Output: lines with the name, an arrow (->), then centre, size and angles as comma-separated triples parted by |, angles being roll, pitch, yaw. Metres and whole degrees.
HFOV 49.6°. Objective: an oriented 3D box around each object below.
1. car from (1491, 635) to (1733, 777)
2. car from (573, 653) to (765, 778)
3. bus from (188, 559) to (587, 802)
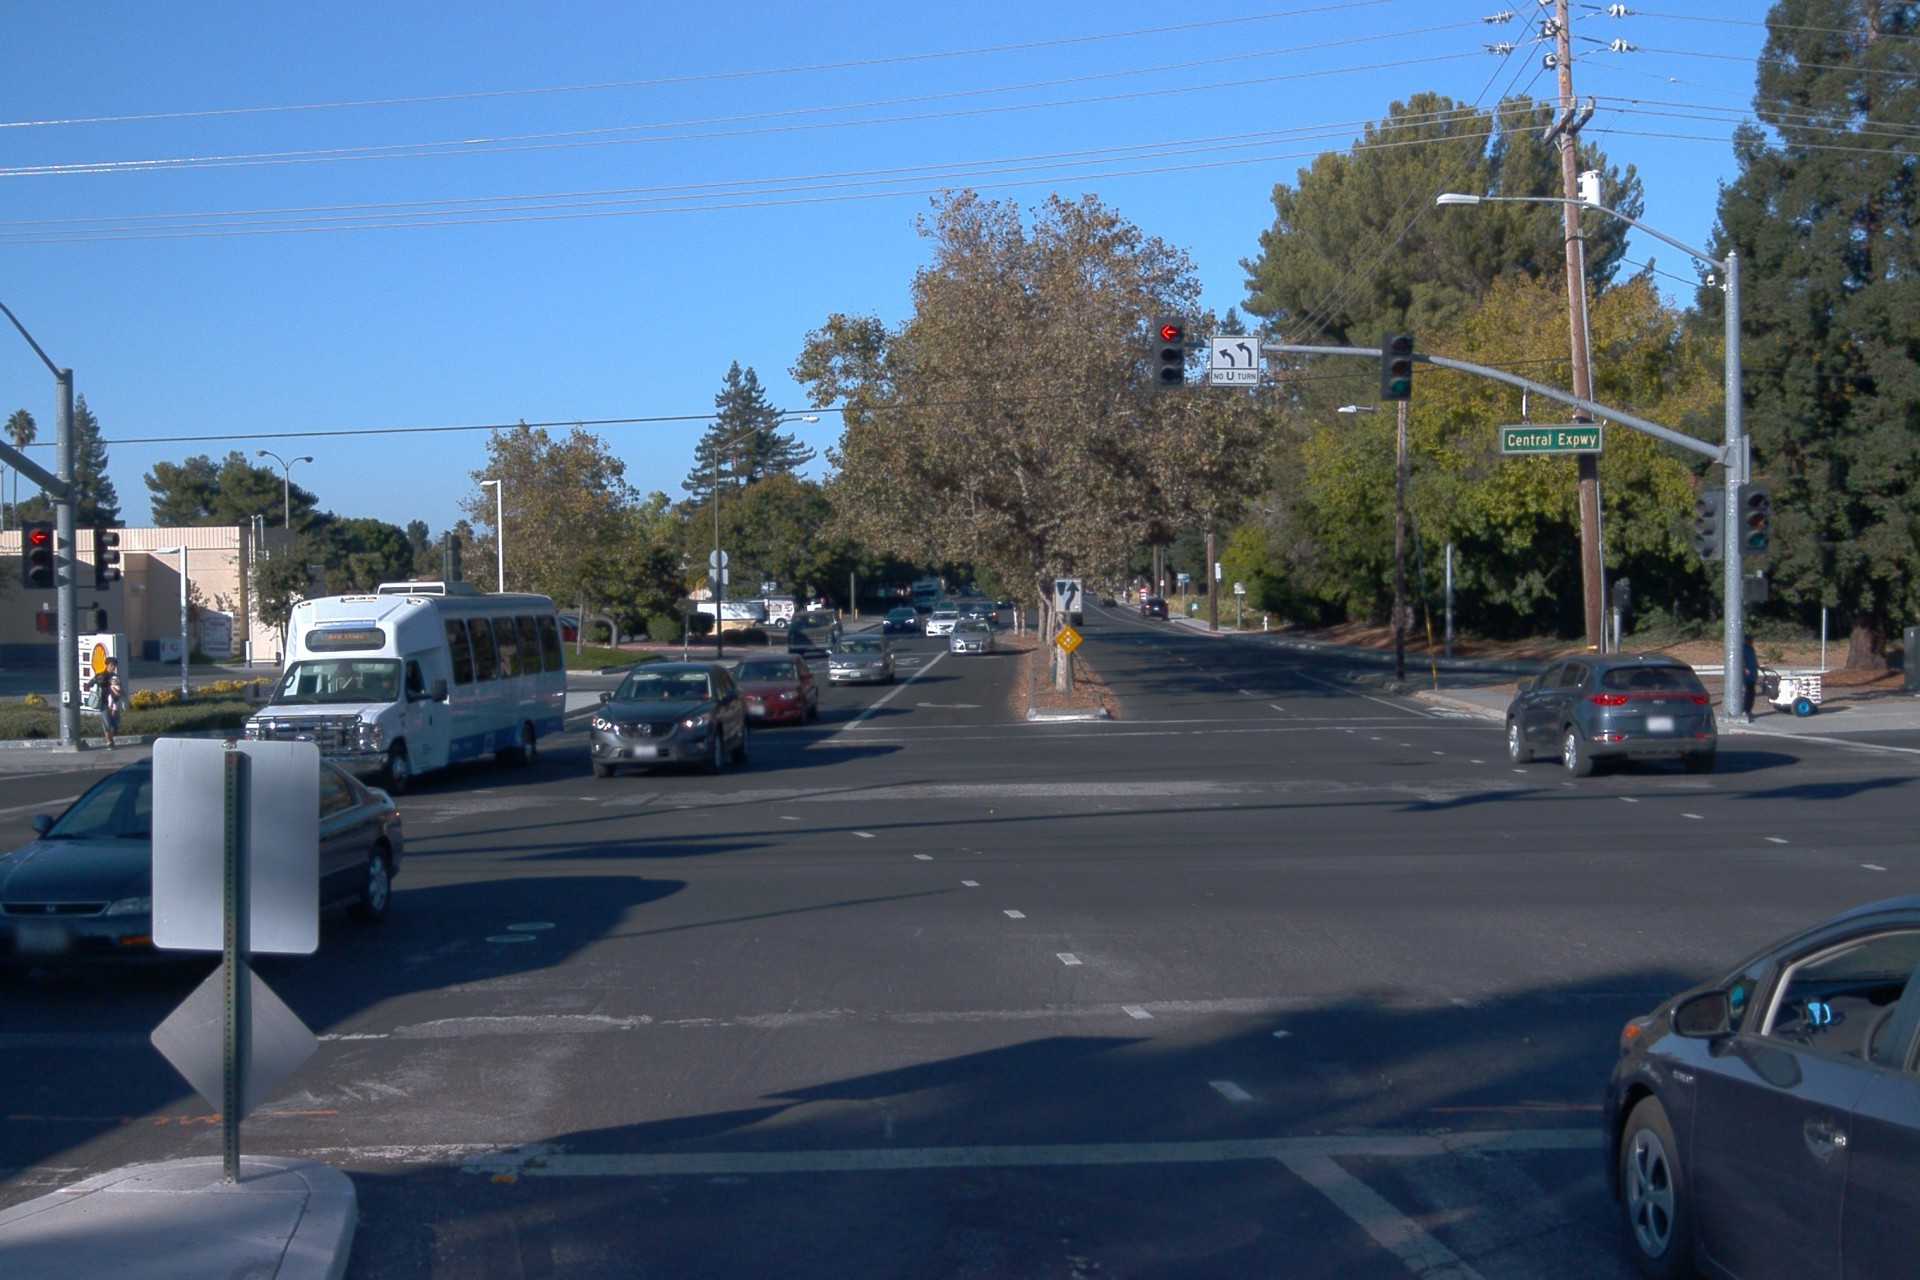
car -> 9.002, 0.853, 29.098 | 2.011, 1.820, 4.292 | -1, 0, 0
car -> -4.406, 1.109, 32.175 | 2.122, 1.760, 4.358 | -1, 0, 3
bus -> -8.465, 0.550, 32.301 | 3.003, 3.210, 9.239 | -1, 0, 4
